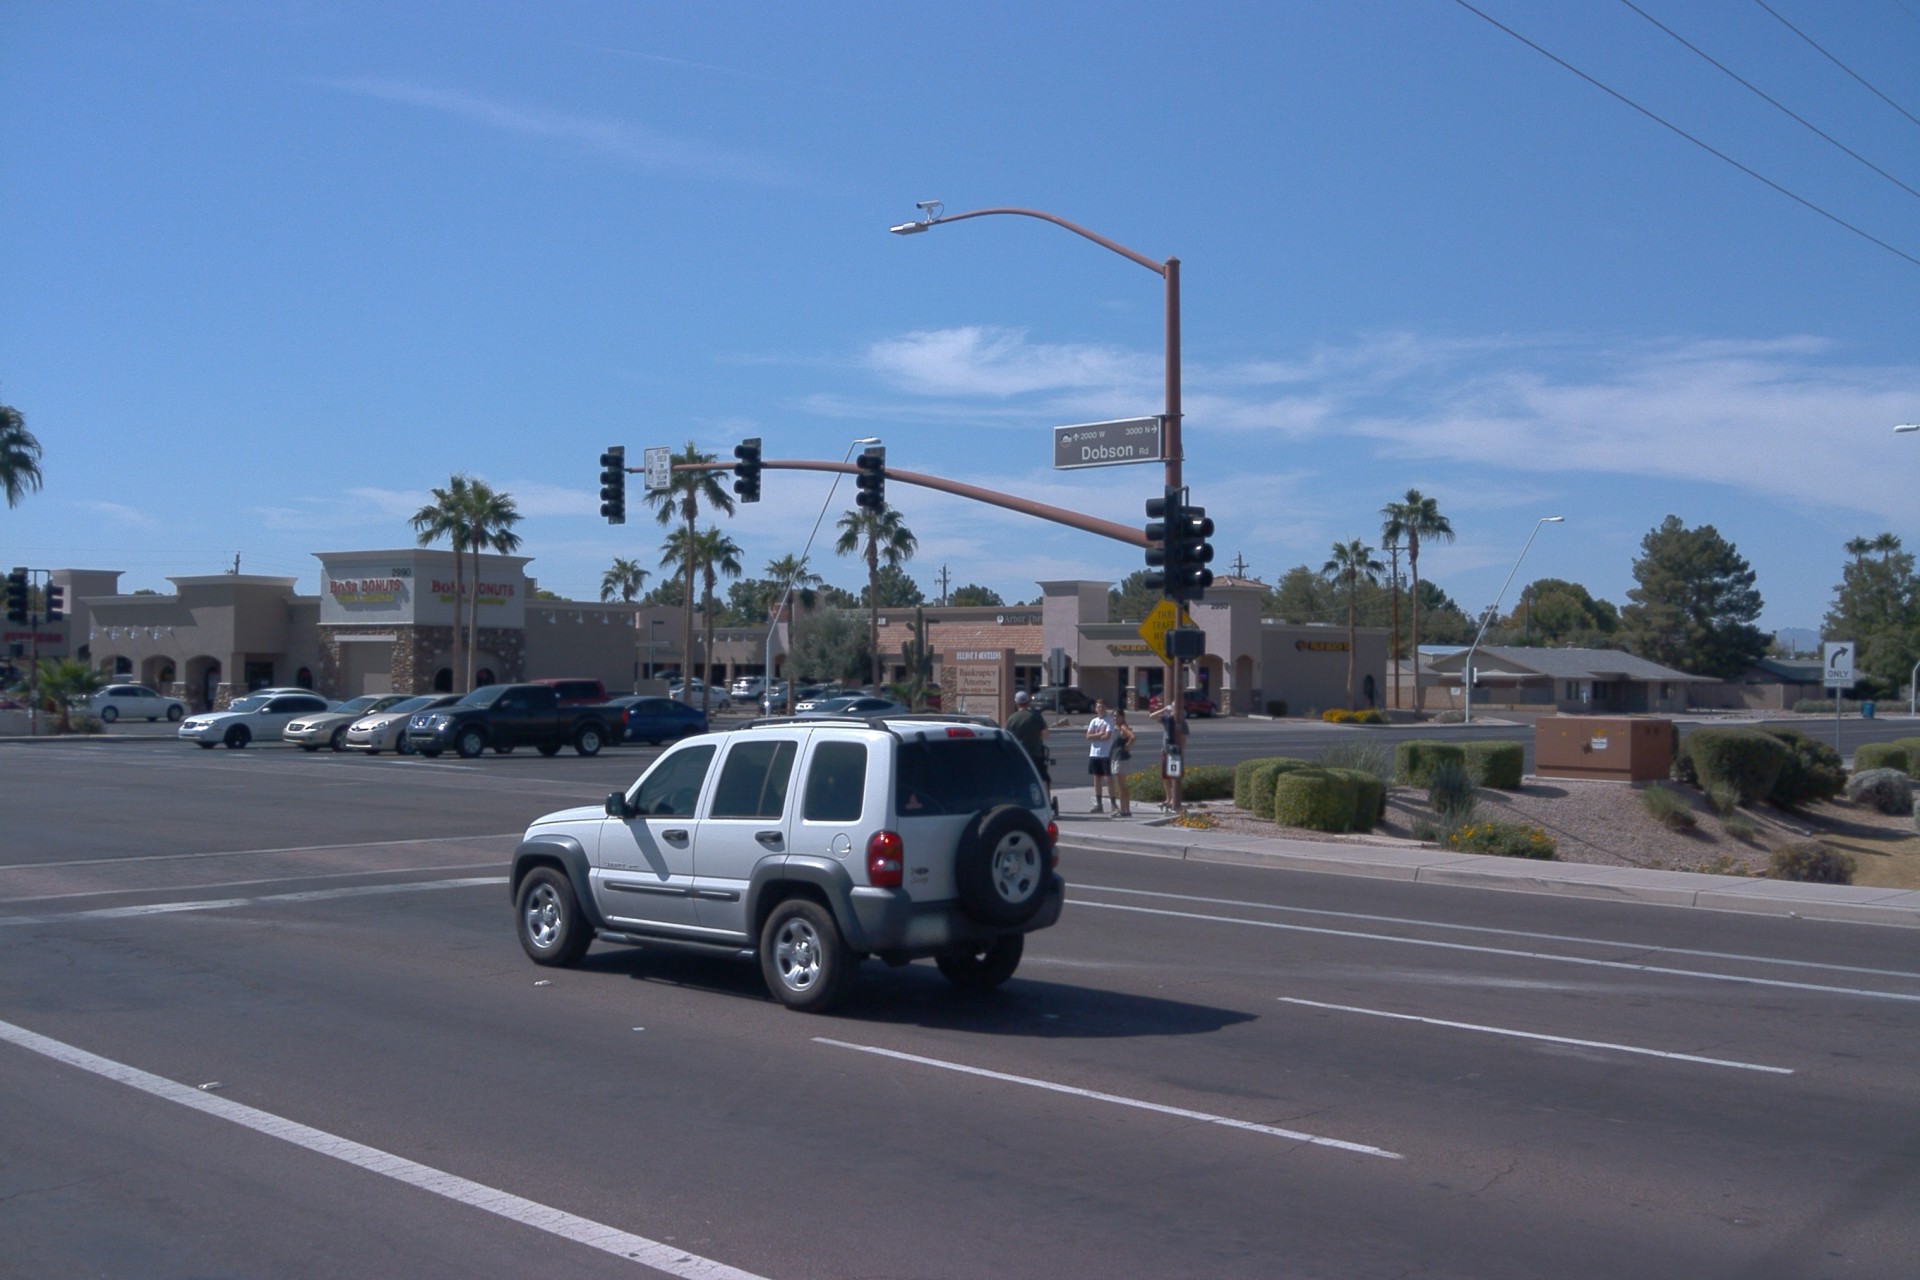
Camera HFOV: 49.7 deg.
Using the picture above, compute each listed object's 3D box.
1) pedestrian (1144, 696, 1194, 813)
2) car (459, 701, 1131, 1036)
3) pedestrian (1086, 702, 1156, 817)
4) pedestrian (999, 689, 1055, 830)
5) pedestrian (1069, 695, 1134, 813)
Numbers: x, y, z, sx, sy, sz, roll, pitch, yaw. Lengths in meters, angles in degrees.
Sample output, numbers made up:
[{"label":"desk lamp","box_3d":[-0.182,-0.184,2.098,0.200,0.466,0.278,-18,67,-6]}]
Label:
[{"label":"pedestrian","box_3d":[3.091,1.680,30.575,0.658,1.710,0.496,0,0,16]},{"label":"car","box_3d":[-1.250,1.358,14.027,4.536,1.830,2.029,-1,-1,44]},{"label":"pedestrian","box_3d":[2.265,1.669,29.181,0.644,1.580,0.755,0,-1,44]},{"label":"pedestrian","box_3d":[0.934,1.648,28.785,0.761,1.940,0.567,0,0,5]},{"label":"pedestrian","box_3d":[2.088,1.668,30.584,0.703,1.710,0.682,0,-1,38]}]
